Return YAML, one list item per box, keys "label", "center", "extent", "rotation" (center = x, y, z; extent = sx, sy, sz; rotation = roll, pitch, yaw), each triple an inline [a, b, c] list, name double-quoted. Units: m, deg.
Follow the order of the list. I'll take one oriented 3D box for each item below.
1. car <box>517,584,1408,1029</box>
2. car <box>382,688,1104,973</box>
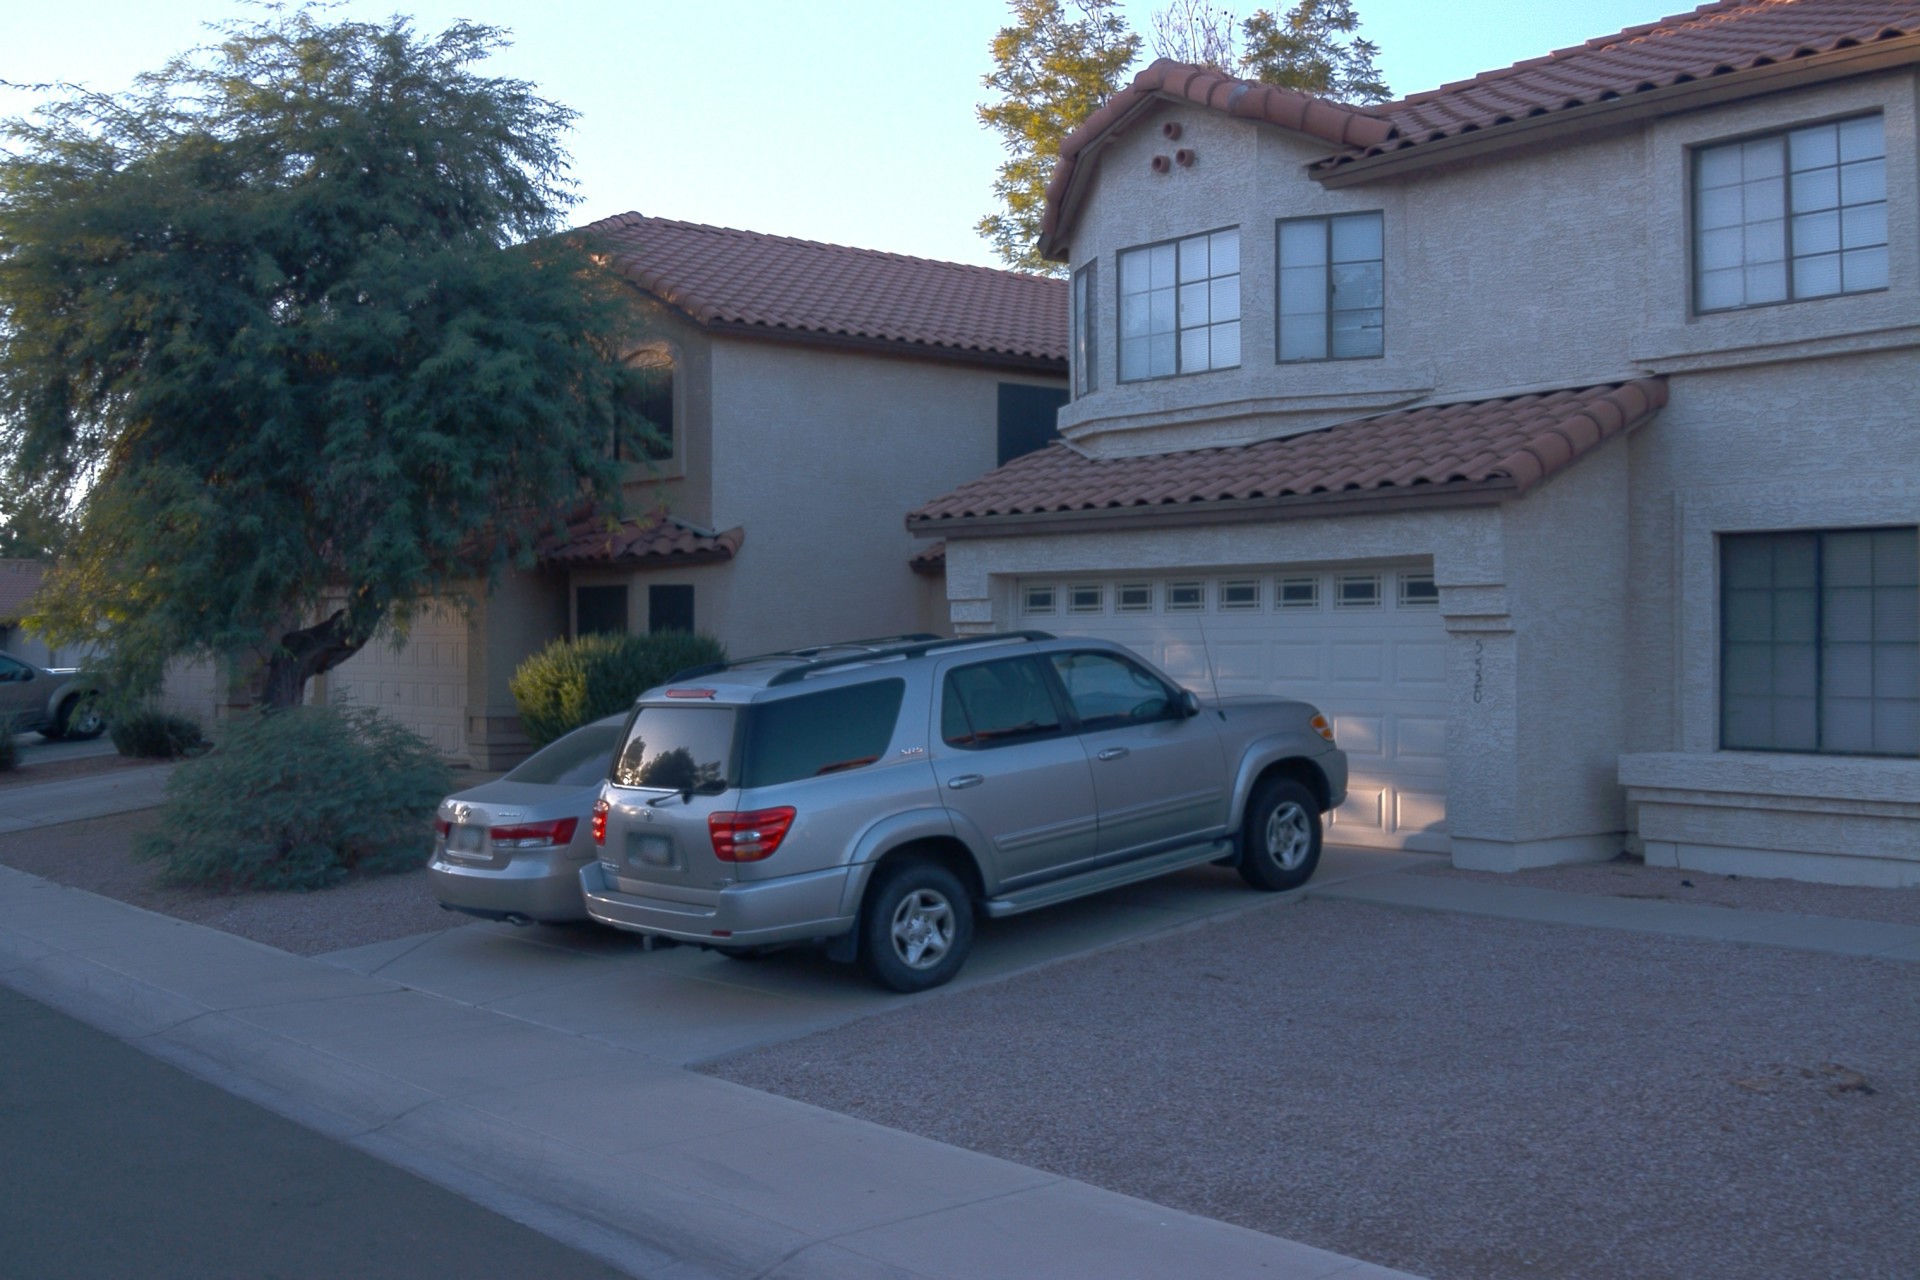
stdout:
- label: "car"
  center: [0.156, 0.879, 13.189]
  extent: [5.293, 2.280, 2.368]
  rotation: [1, -1, -37]
- label: "car"
  center: [-1.441, 1.207, 14.944]
  extent: [4.779, 1.670, 2.107]
  rotation: [1, -1, -39]
